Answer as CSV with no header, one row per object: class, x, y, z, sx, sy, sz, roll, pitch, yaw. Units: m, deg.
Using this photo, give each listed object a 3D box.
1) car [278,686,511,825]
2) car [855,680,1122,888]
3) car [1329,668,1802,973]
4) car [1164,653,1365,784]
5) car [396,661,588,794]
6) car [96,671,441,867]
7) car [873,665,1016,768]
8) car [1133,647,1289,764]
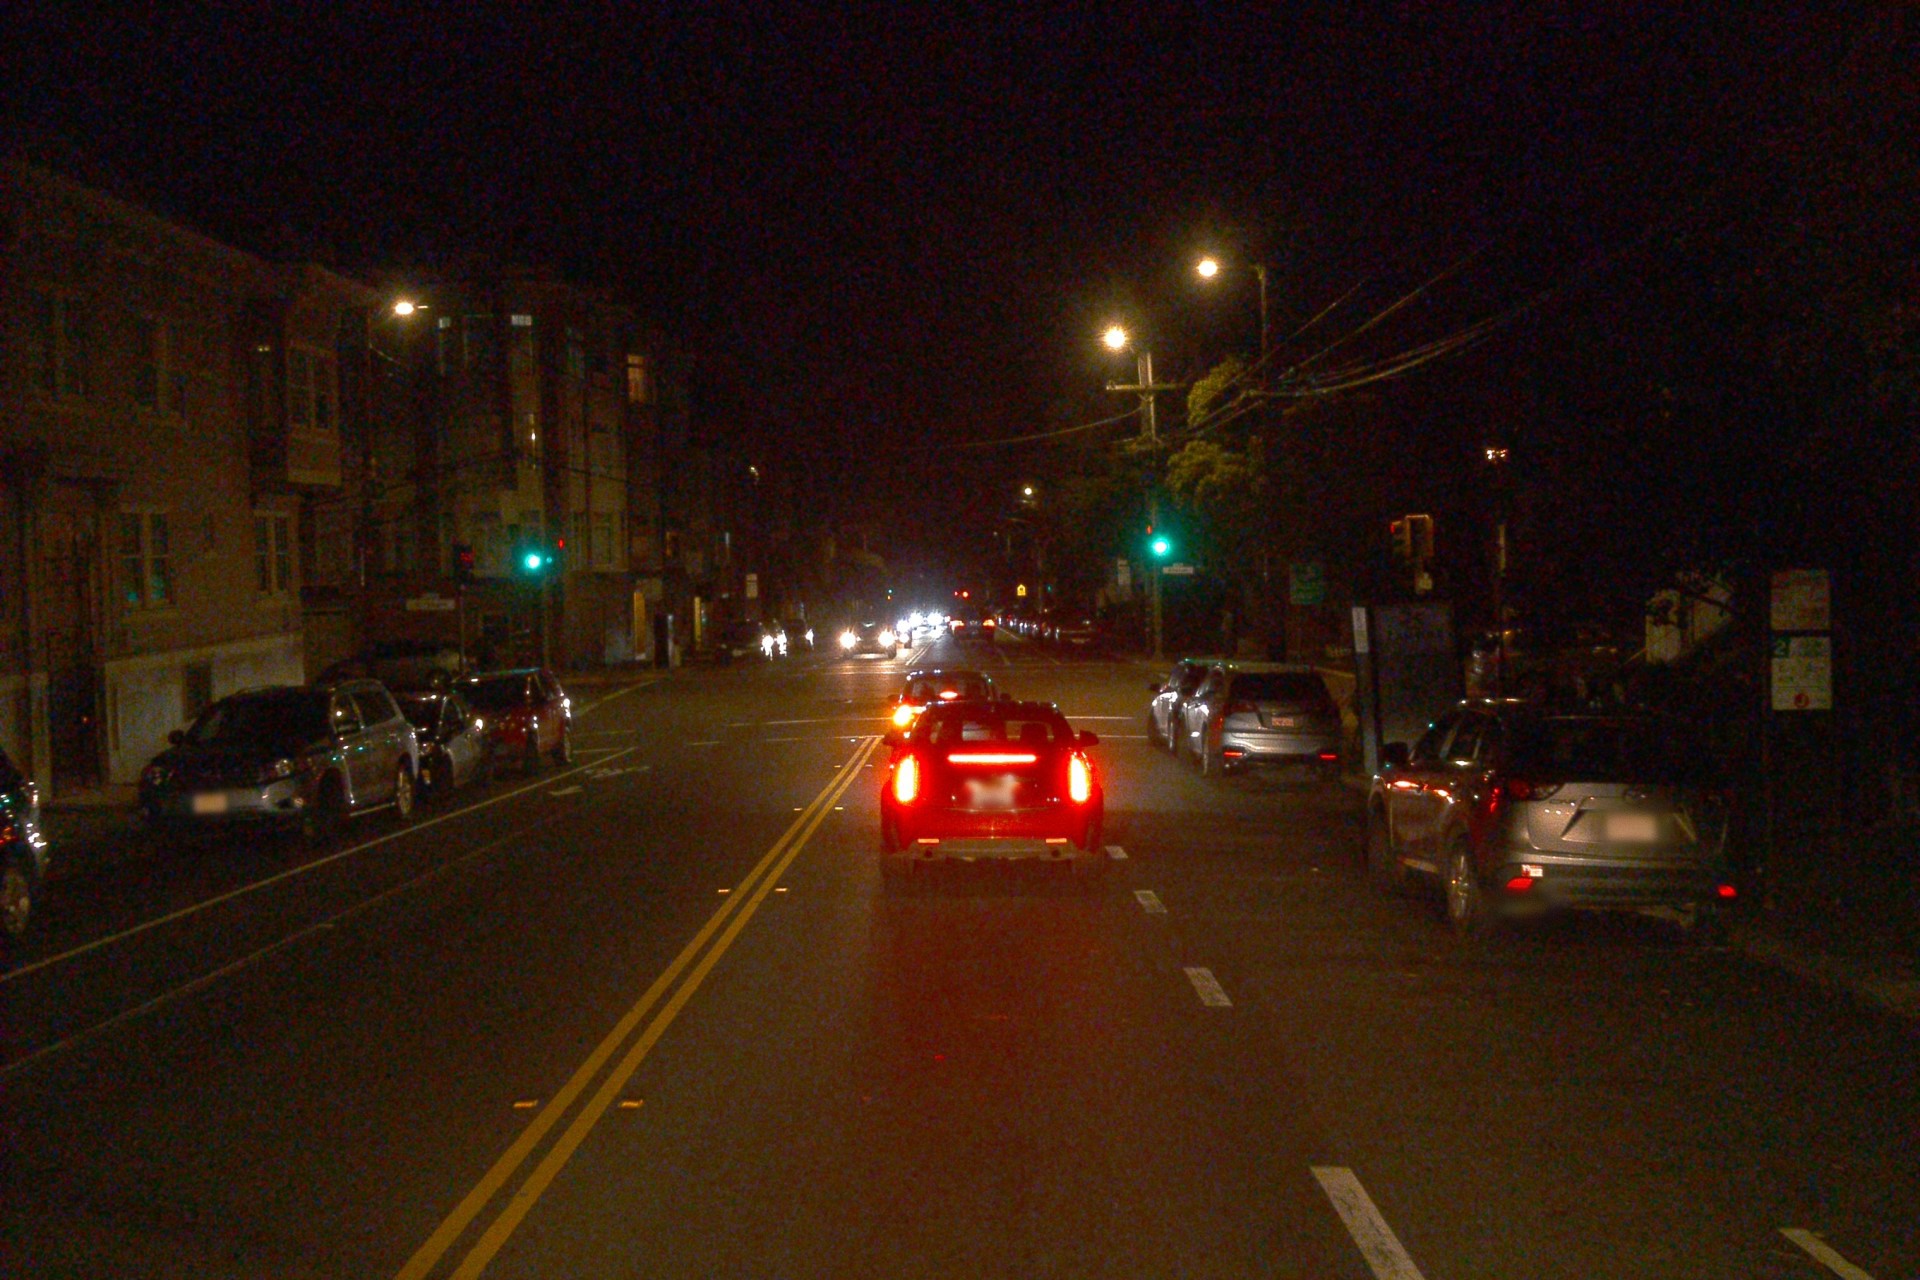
car,-7.740,1.530,28.468,2.053,1.640,4.520,0,0,-1
car,0.273,1.163,18.126,2.067,1.490,4.418,1,0,1
car,4.337,1.198,15.538,2.178,1.870,4.606,1,0,0
car,4.350,1.074,29.991,2.250,1.690,4.768,1,0,1
car,-7.510,1.348,33.275,1.998,1.910,4.650,1,0,1
car,-7.570,1.333,22.967,2.196,1.850,4.807,1,0,1
car,-0.231,1.147,32.184,2.071,1.420,4.587,1,0,0
car,4.250,1.068,35.300,2.084,1.830,4.587,1,0,0
